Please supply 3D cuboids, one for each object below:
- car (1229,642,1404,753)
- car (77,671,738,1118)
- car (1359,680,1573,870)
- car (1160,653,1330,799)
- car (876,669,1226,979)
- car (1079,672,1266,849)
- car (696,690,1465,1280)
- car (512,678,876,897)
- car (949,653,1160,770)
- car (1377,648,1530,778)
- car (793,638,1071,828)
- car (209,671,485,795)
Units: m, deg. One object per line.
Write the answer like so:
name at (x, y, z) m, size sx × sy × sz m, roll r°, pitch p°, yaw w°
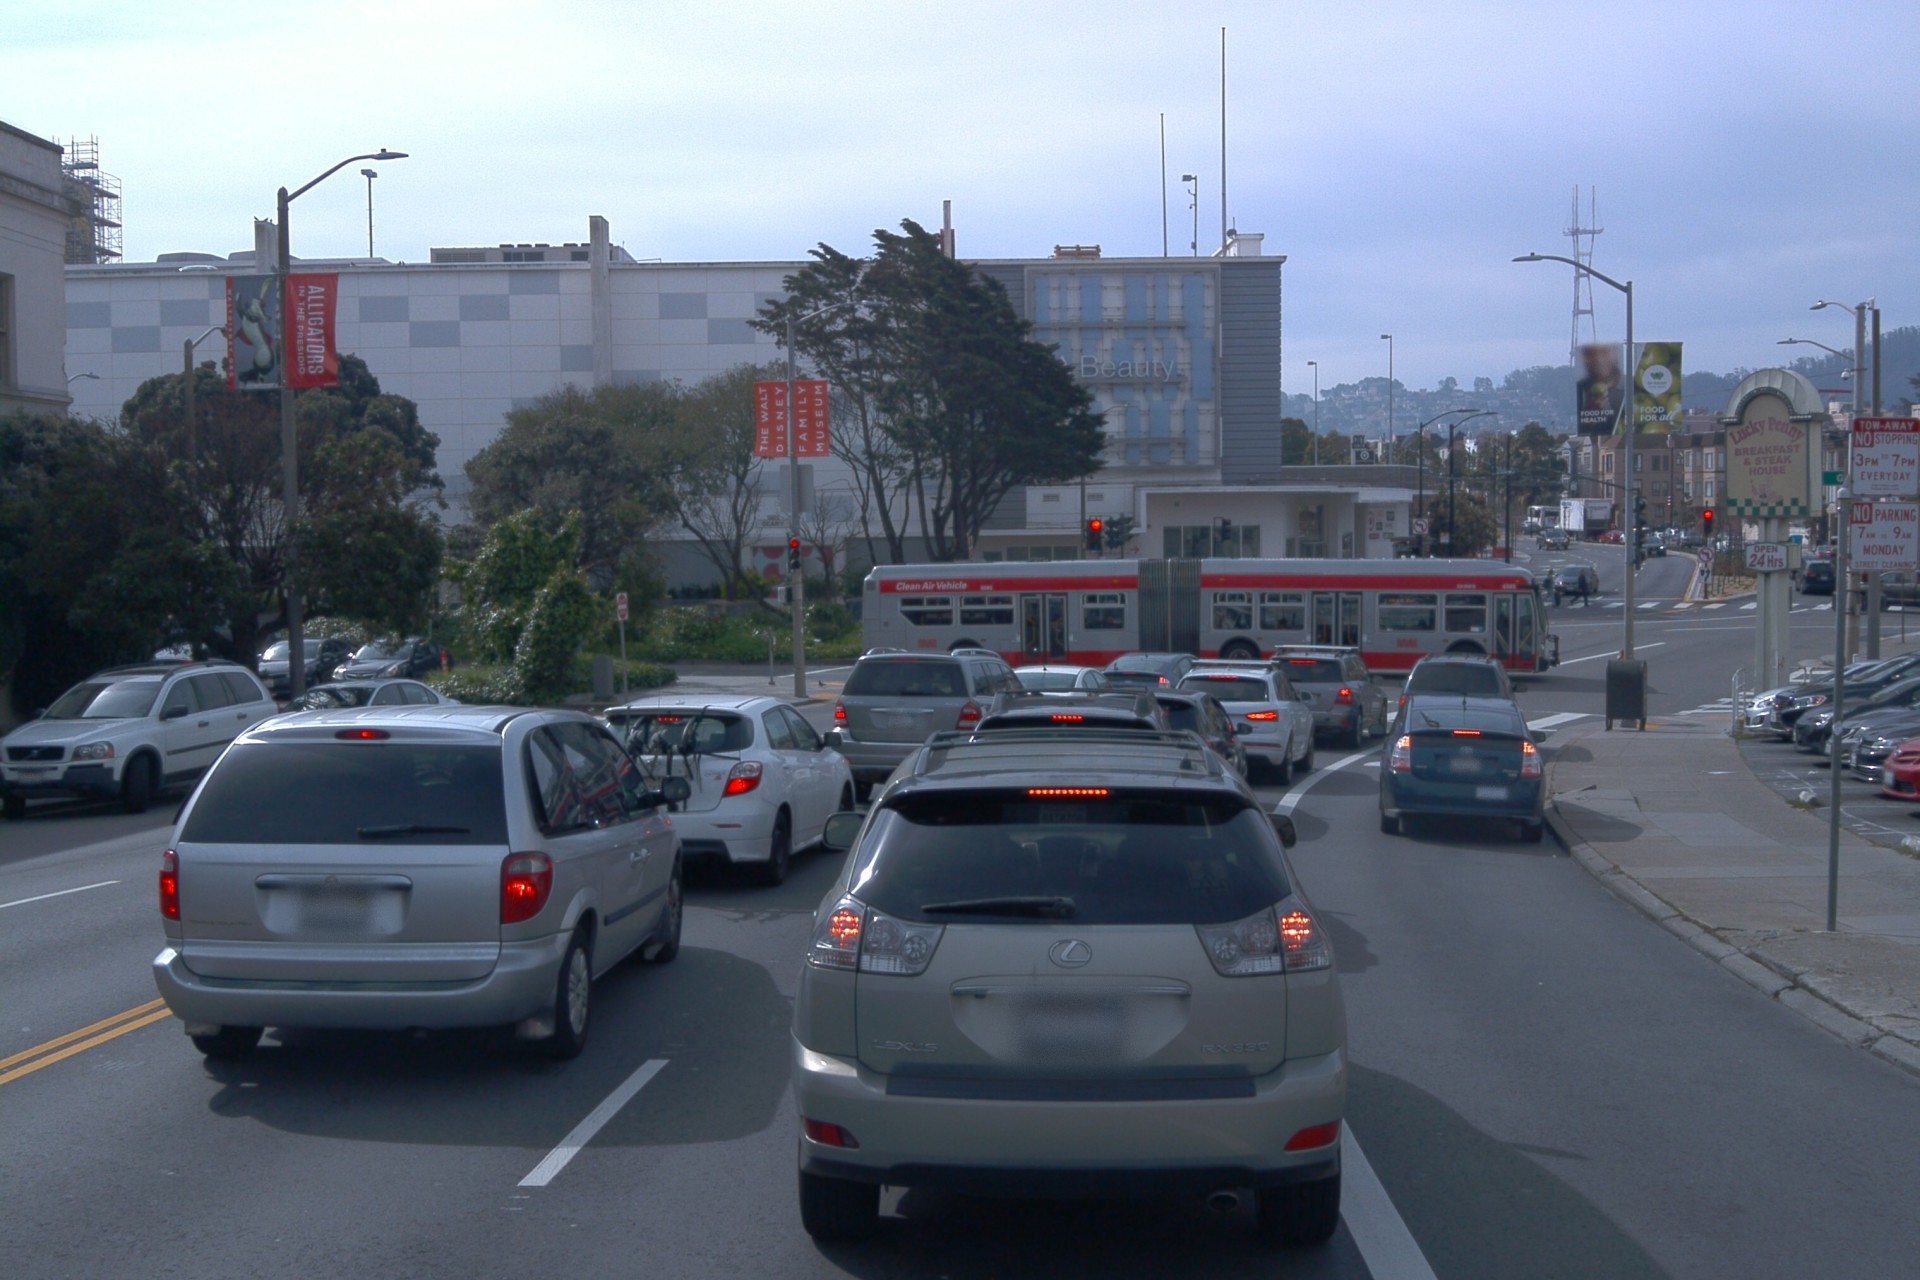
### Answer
car at (6.641, 0.983, 37.541) m, size 2.226 × 1.850 × 5.307 m, roll 1°, pitch 0°, yaw 20°
car at (-2.684, 1.143, 11.270) m, size 2.131 × 1.830 × 4.635 m, roll 1°, pitch 0°, yaw 4°
car at (5.626, 1.415, 23.175) m, size 2.113 × 1.790 × 4.645 m, roll 1°, pitch 0°, yaw 12°
car at (4.140, 1.149, 29.213) m, size 1.795 × 1.880 × 4.044 m, roll 1°, pitch 0°, yaw 17°
car at (0.856, 1.206, 15.360) m, size 2.119 × 1.870 × 4.391 m, roll 1°, pitch 0°, yaw 9°
car at (2.538, 1.306, 23.697) m, size 1.526 × 1.780 × 3.939 m, roll 1°, pitch 0°, yaw 15°
car at (0.409, 1.168, 8.128) m, size 2.197 × 1.780 × 4.467 m, roll 1°, pitch 0°, yaw 2°
car at (-2.125, 1.150, 17.681) m, size 1.982 × 1.530 × 4.306 m, roll 1°, pitch 0°, yaw 9°
car at (1.608, 1.072, 32.714) m, size 2.220 × 1.670 × 4.643 m, roll 1°, pitch 0°, yaw 18°
car at (8.540, 1.168, 35.093) m, size 2.203 × 2.020 × 4.801 m, roll 1°, pitch 0°, yaw 18°
car at (-0.211, 1.035, 25.536) m, size 2.236 × 2.100 × 4.827 m, roll 1°, pitch 0°, yaw 15°
car at (-9.230, 1.345, 31.232) m, size 1.977 × 1.640 × 4.663 m, roll 1°, pitch 0°, yaw 13°
